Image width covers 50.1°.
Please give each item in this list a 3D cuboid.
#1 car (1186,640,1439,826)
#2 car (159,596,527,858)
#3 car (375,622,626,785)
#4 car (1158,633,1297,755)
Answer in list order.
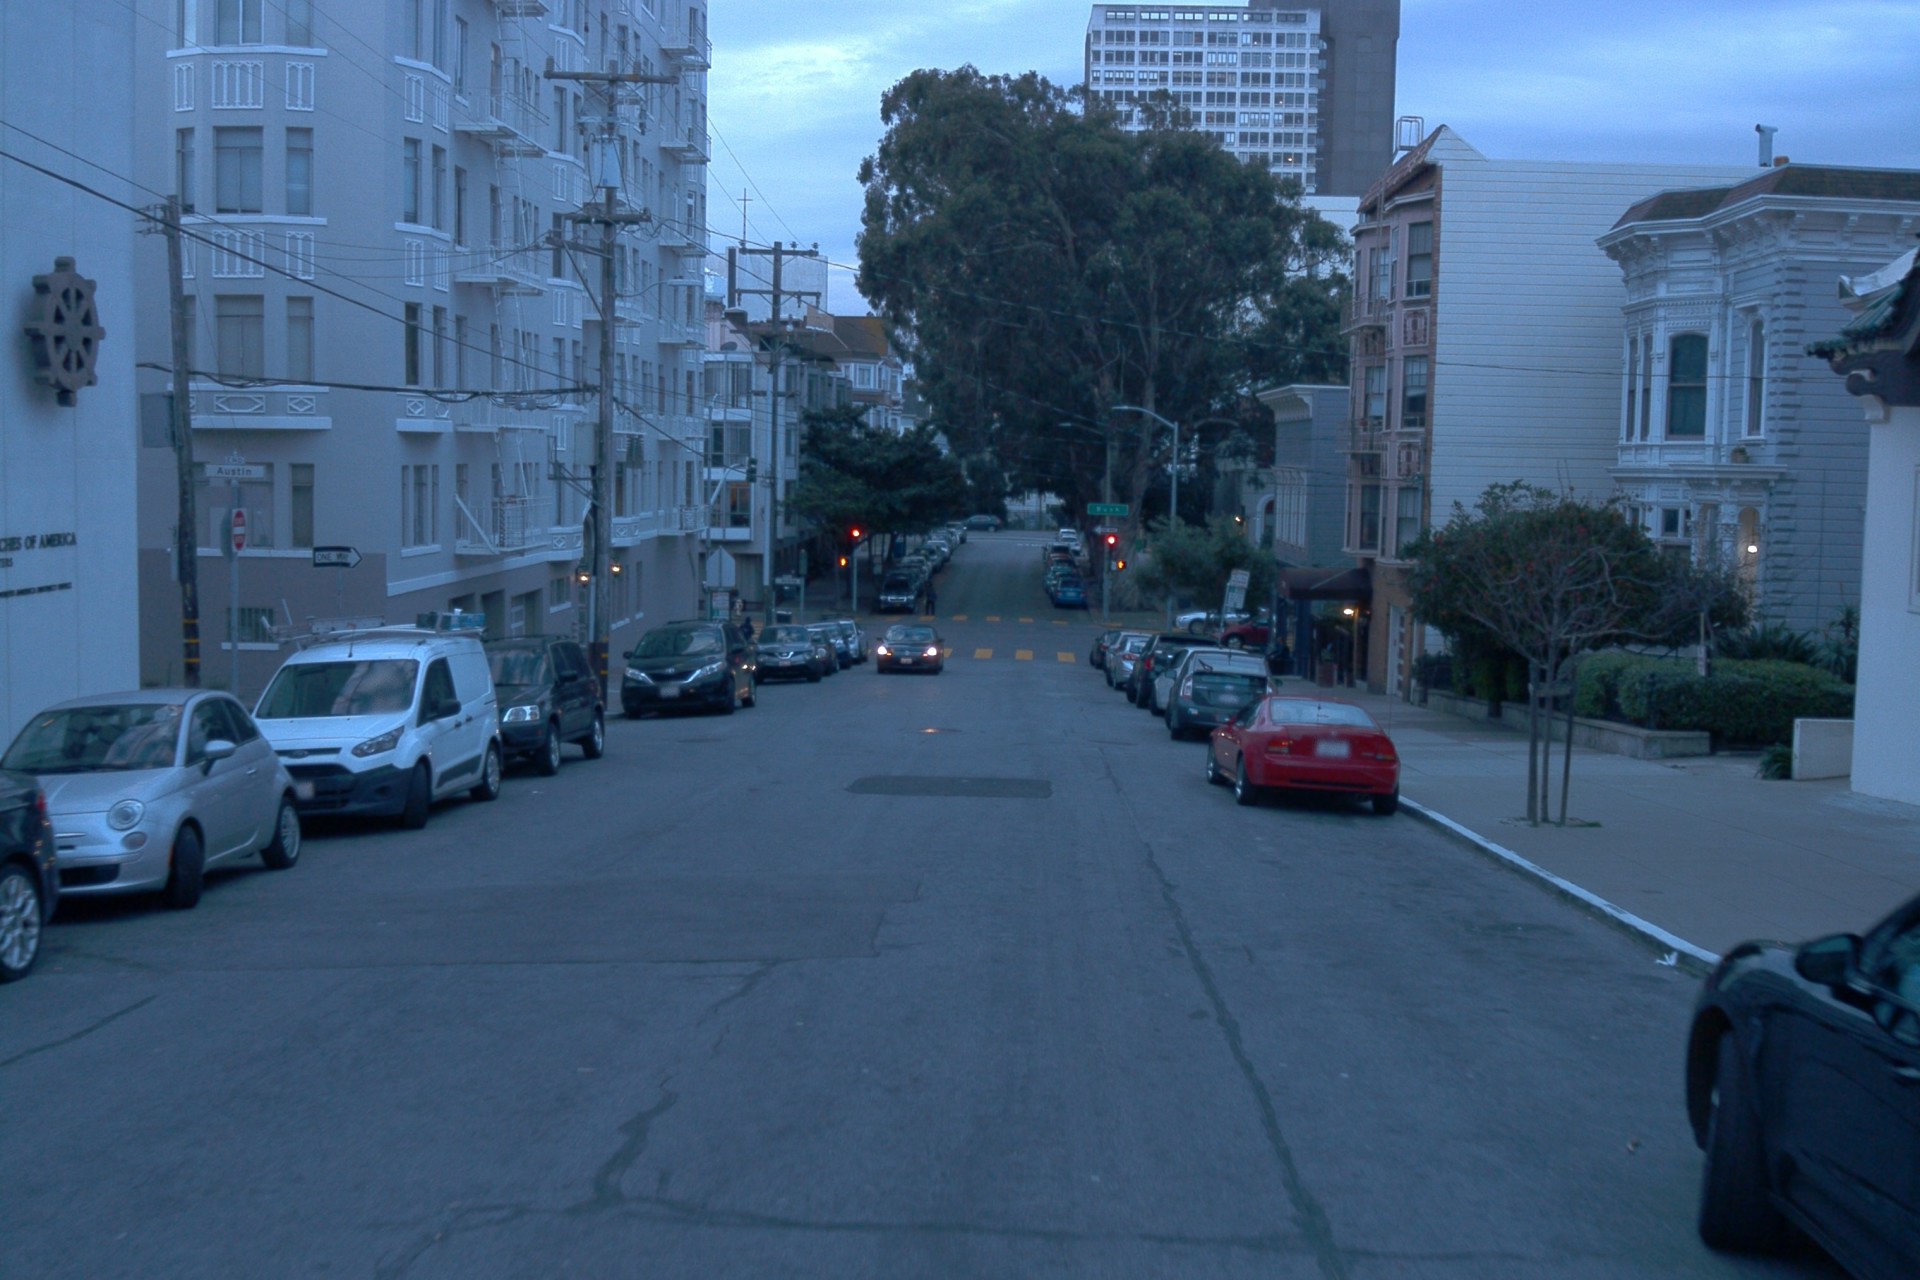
[{"bbox_3d":[4.026,0.998,24.310,2.118,1.890,4.539,1,1,-1],"label":"car"},{"bbox_3d":[-5.863,0.727,20.180,2.165,2.250,4.373,1,1,2],"label":"car"},{"bbox_3d":[-5.730,0.726,26.239,2.094,1.830,4.515,1,1,1],"label":"car"},{"bbox_3d":[4.410,0.841,34.529,2.066,1.830,4.431,1,1,5],"label":"car"}]
